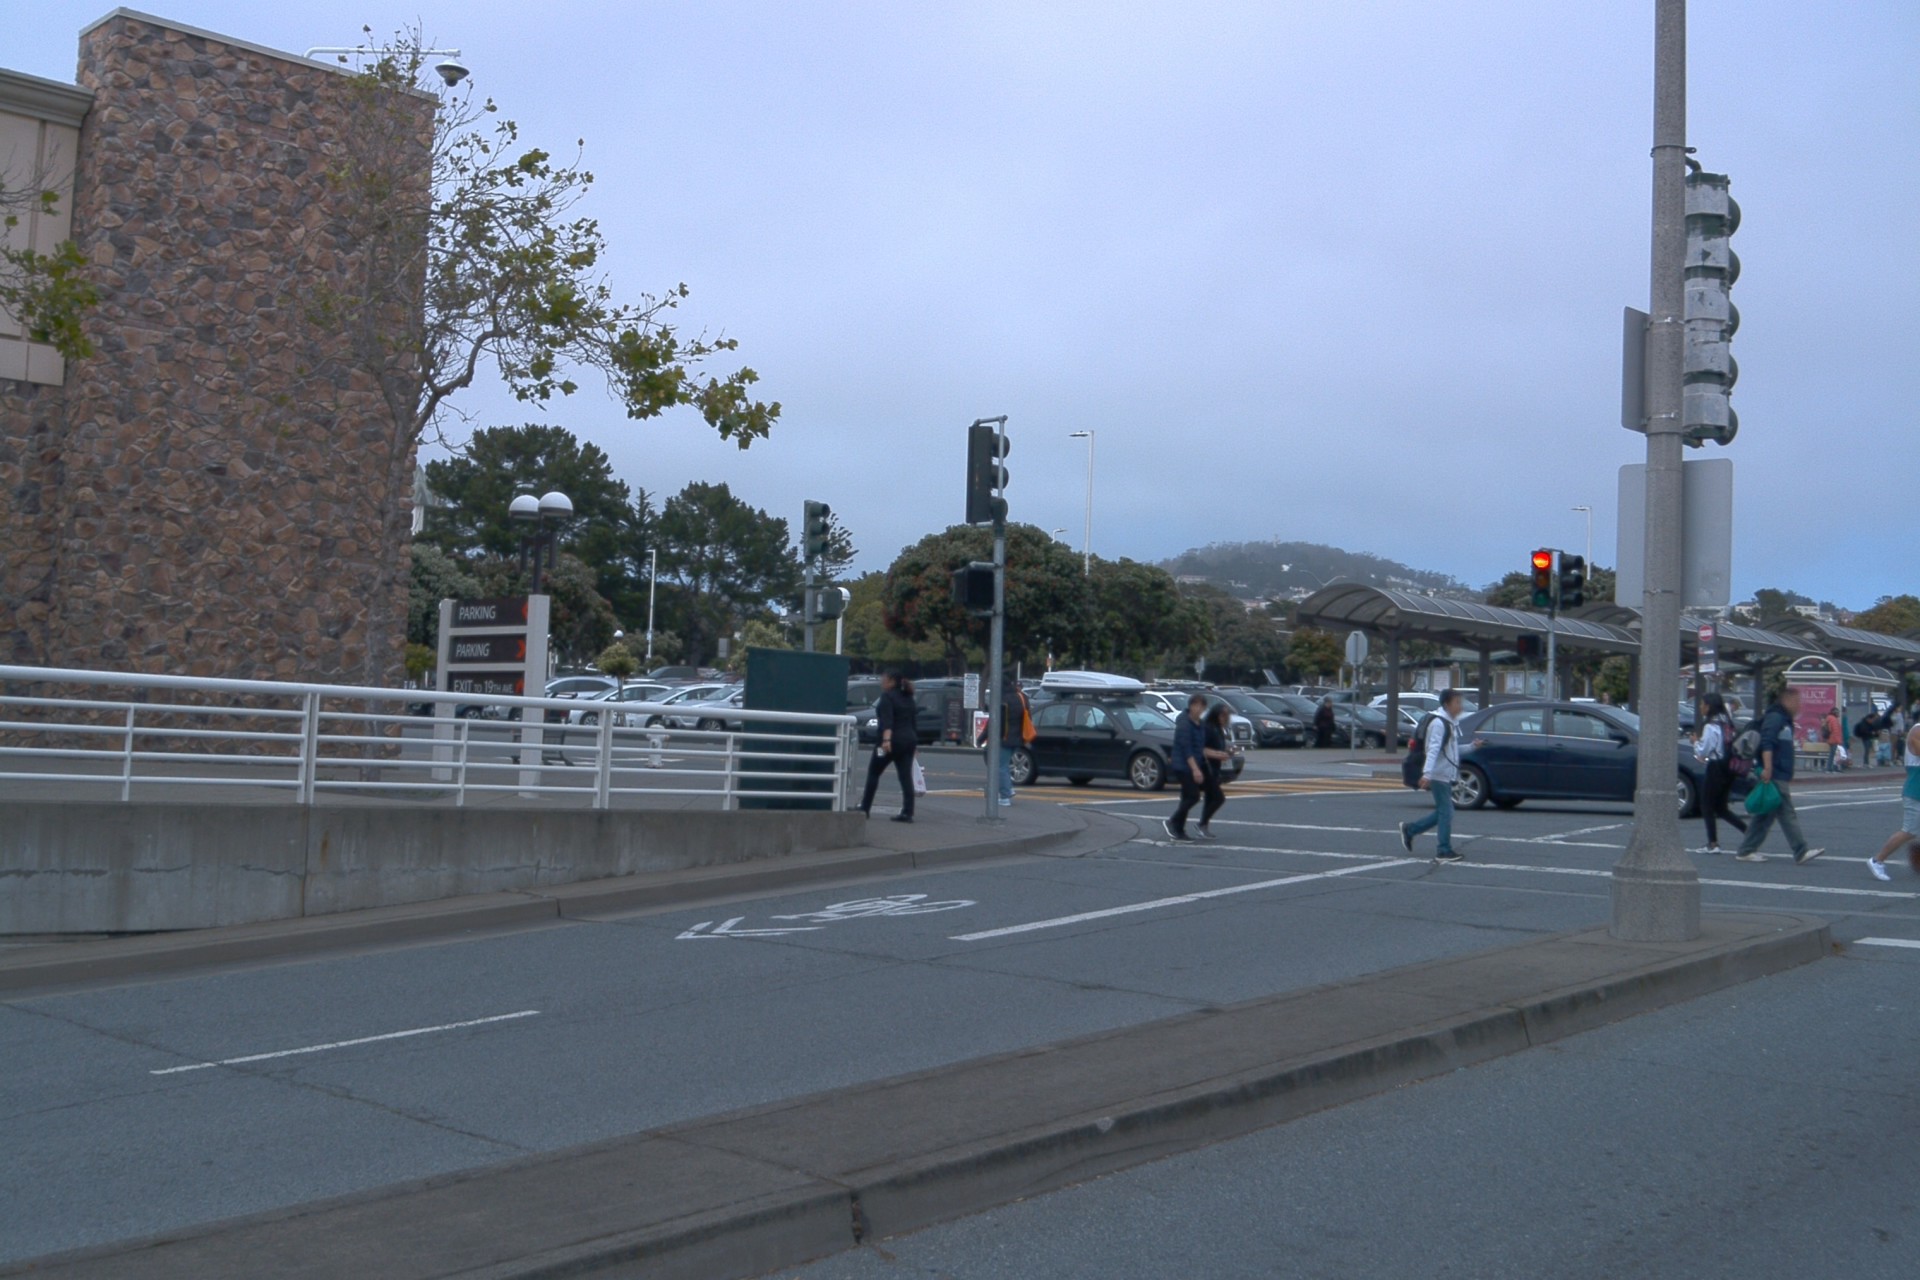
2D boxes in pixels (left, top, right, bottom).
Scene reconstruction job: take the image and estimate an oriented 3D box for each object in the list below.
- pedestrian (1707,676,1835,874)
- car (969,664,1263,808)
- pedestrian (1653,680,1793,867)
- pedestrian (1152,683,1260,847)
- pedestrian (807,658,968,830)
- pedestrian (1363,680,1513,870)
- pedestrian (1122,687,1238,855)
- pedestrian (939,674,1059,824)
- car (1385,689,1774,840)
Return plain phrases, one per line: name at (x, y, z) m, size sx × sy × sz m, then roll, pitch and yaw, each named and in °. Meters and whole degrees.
pedestrian at (7.375, 1.204, 18.765) m, size 0.938 × 1.720 × 0.670 m, roll 0°, pitch 1°, yaw 37°
car at (2.399, 1.435, 32.392) m, size 4.359 × 2.000 × 1.881 m, roll 1°, pitch 1°, yaw 42°
pedestrian at (7.250, 1.238, 19.612) m, size 0.997 × 1.670 × 0.913 m, roll 1°, pitch 1°, yaw 39°
pedestrian at (2.589, 1.293, 21.694) m, size 0.961 × 1.660 × 0.602 m, roll 0°, pitch 1°, yaw 31°
pedestrian at (-0.739, 1.038, 21.265) m, size 1.121 × 1.670 × 1.227 m, roll 1°, pitch 1°, yaw 40°
pedestrian at (4.463, 1.227, 19.259) m, size 1.048 × 1.670 × 0.929 m, roll 1°, pitch 1°, yaw 41°
pedestrian at (2.262, 1.322, 21.213) m, size 0.992 × 1.650 × 0.668 m, roll 0°, pitch 1°, yaw 31°
pedestrian at (0.458, 1.273, 24.505) m, size 0.926 × 1.690 × 1.079 m, roll -1°, pitch 1°, yaw -45°
car at (7.983, 1.538, 26.766) m, size 4.438 × 1.650 × 1.947 m, roll 0°, pitch 1°, yaw 35°
